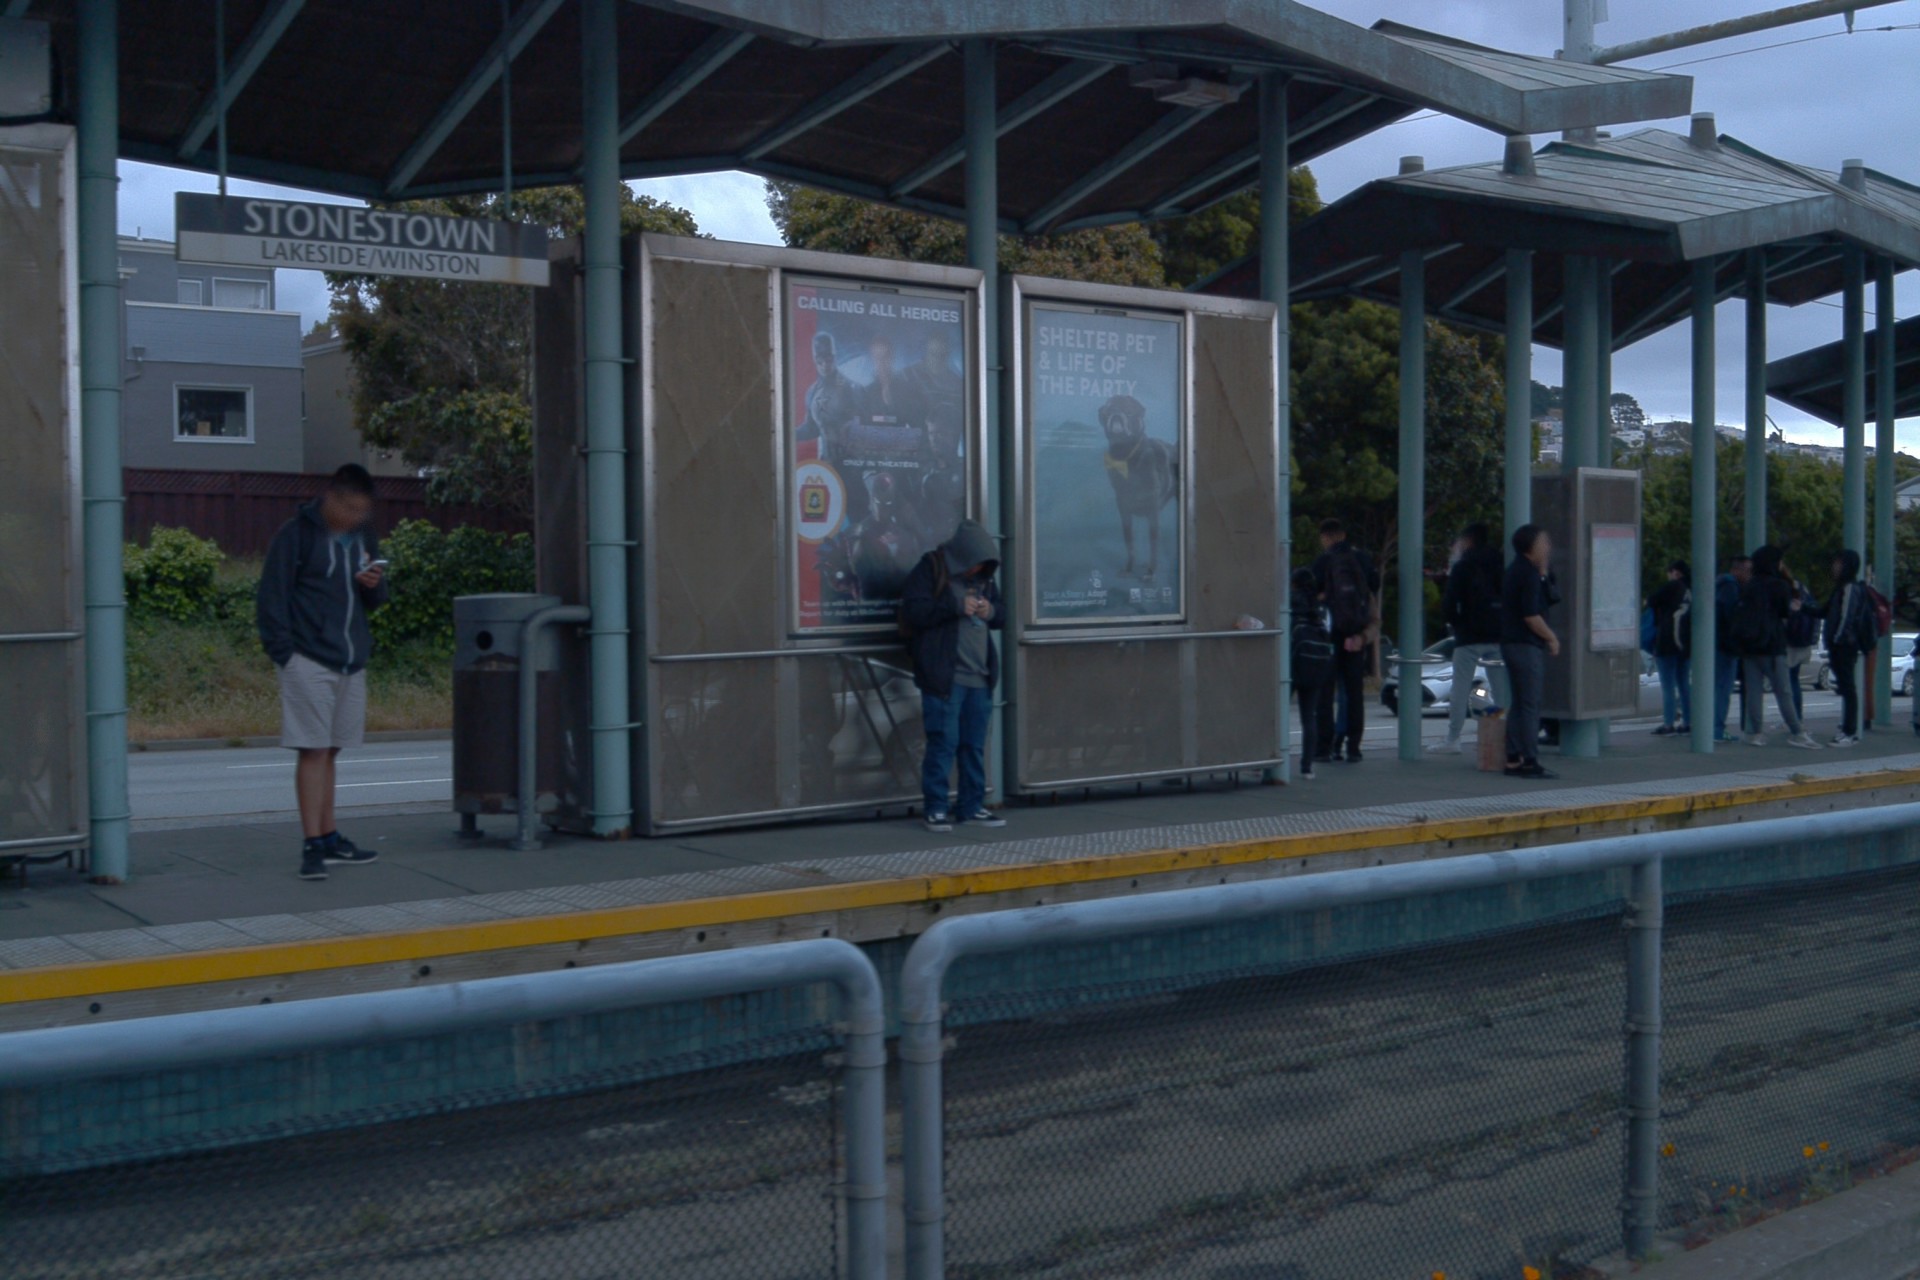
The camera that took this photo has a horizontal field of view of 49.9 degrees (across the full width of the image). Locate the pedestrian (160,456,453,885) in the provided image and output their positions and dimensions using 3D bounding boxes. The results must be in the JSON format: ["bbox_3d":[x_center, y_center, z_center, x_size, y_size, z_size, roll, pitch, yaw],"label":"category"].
[{"bbox_3d":[-2.714,0.112,8.575,0.932,1.660,0.753,-1,1,-40],"label":"pedestrian"}]

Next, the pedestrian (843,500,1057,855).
[{"bbox_3d":[-0.047,0.174,10.401,0.889,1.700,0.613,-1,1,-39],"label":"pedestrian"}]

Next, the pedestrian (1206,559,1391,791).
[{"bbox_3d":[2.171,0.207,13.275,0.858,1.430,0.824,-1,1,-26],"label":"pedestrian"}]

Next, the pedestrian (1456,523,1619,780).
[{"bbox_3d":[3.787,0.066,13.534,0.794,1.620,0.711,-1,1,-41],"label":"pedestrian"}]
